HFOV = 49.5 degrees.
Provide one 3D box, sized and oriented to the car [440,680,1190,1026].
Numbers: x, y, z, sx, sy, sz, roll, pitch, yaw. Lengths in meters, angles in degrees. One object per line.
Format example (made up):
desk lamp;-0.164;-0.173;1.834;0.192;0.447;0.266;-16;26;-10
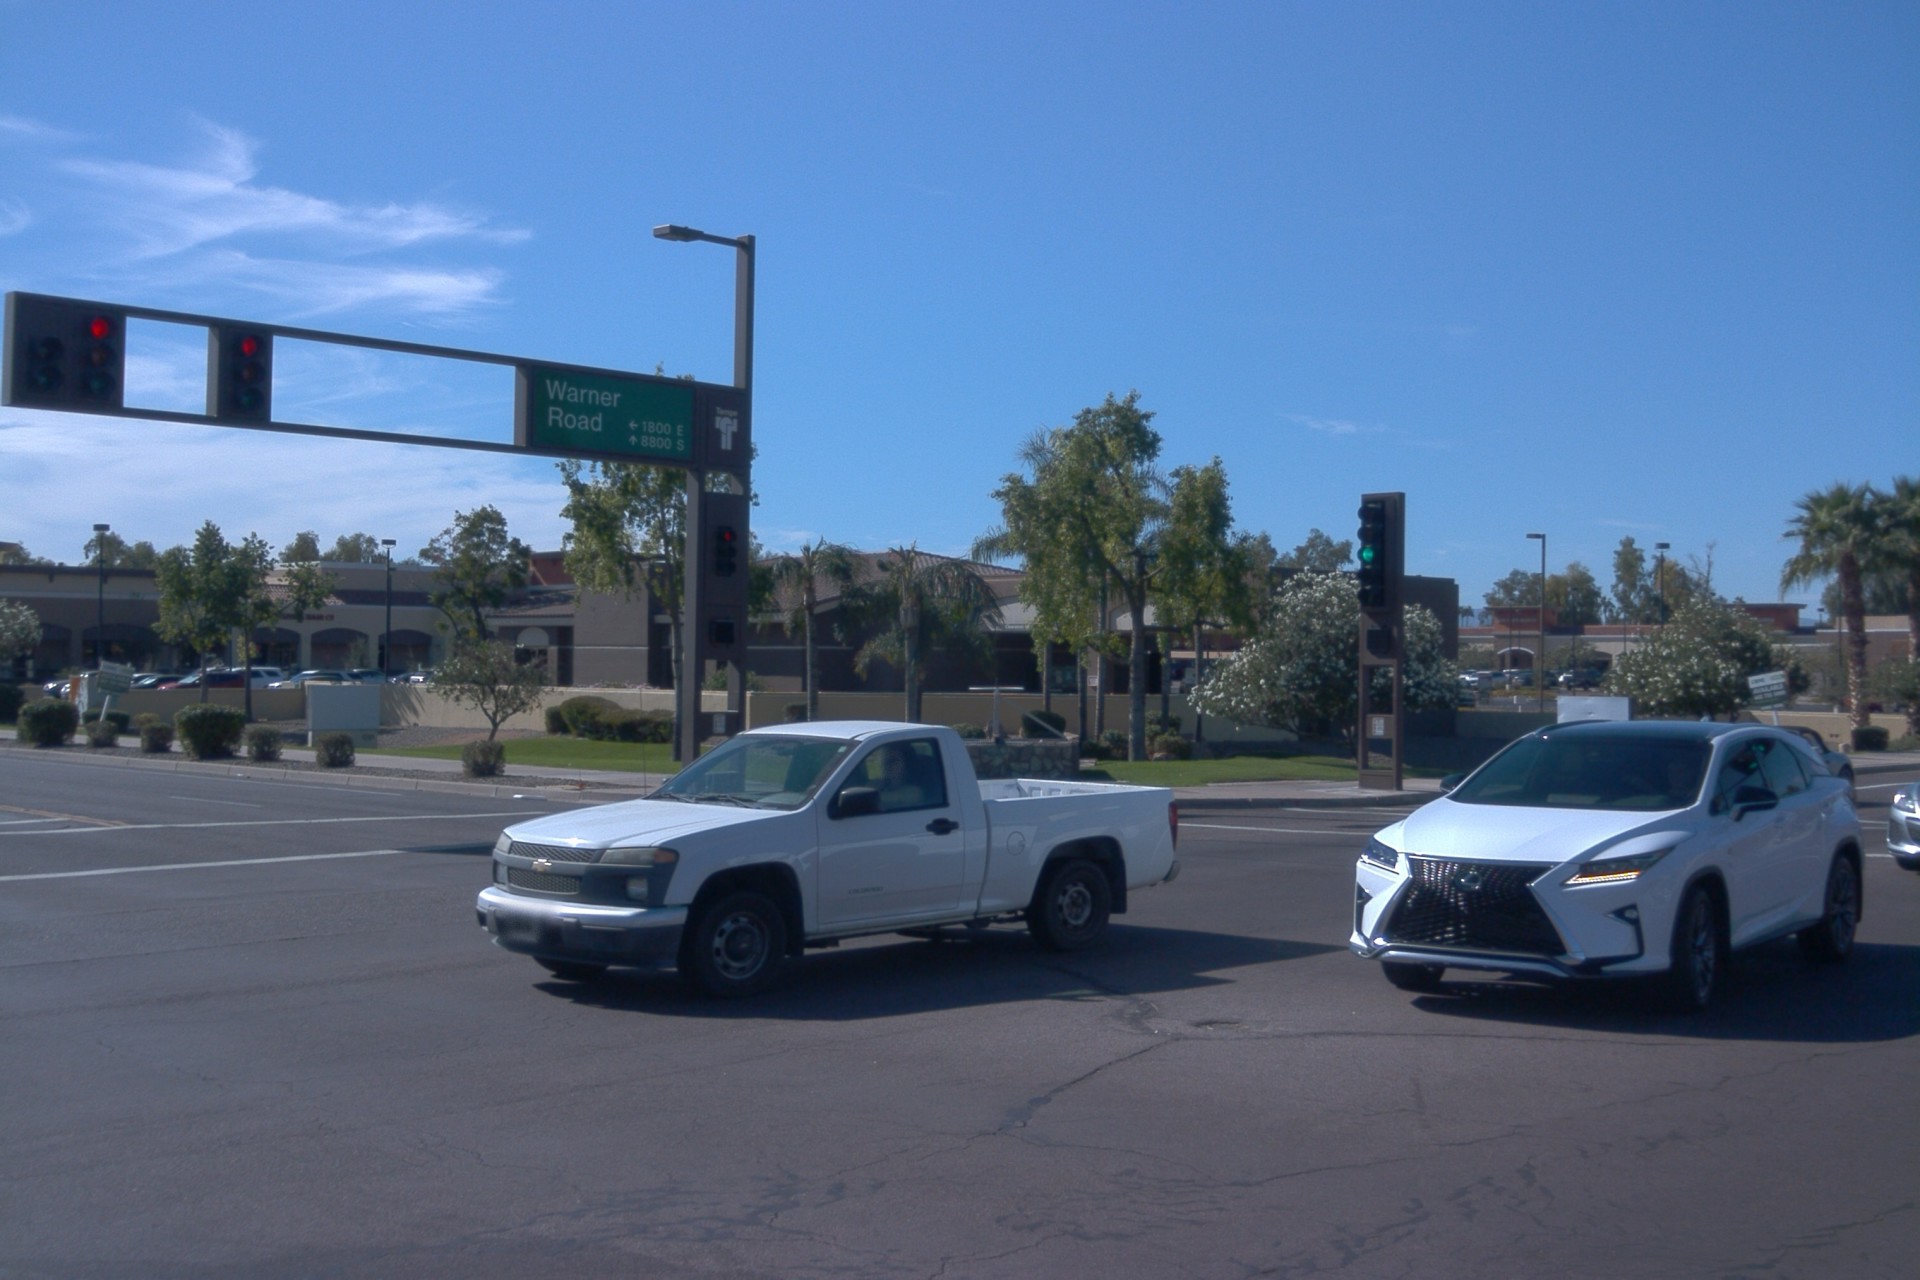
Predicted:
car;-0.804;1.248;14.243;2.082;1.890;4.970;0;0;44

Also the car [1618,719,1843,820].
car;12.016;1.964;32.347;3.838;1.340;1.803;1;0;-44

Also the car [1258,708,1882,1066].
car;4.125;1.373;13.435;2.139;1.720;4.902;1;0;39
